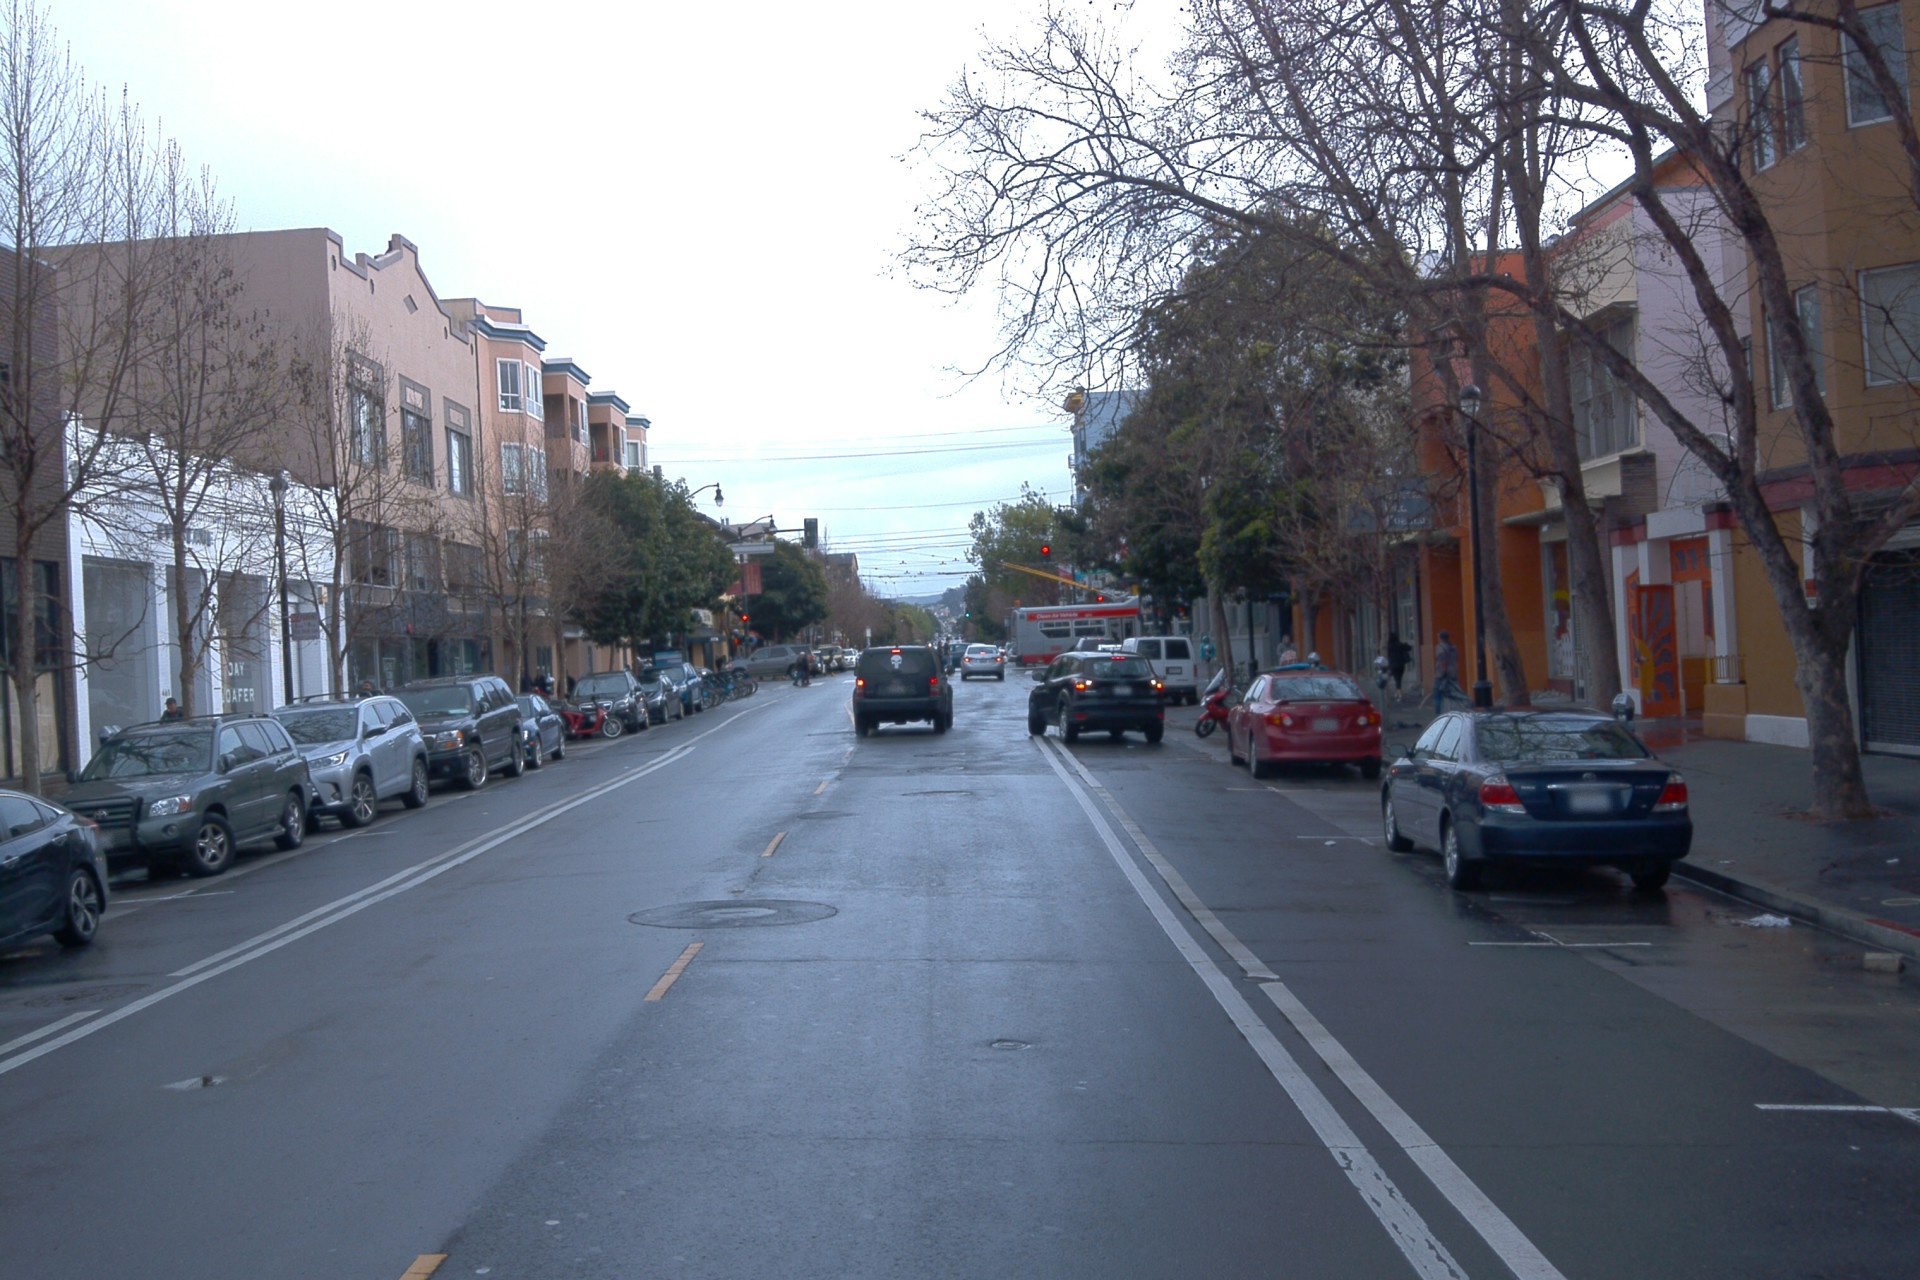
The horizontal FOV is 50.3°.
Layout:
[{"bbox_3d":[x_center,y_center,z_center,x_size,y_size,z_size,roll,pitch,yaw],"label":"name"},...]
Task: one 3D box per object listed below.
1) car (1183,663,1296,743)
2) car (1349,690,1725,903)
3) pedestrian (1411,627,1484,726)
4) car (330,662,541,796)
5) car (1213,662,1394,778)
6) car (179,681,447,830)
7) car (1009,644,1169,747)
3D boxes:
[{"bbox_3d":[5.179,1.166,37.967,2.020,1.430,0.938,1,0,5],"label":"car"},{"bbox_3d":[4.938,1.275,18.288,2.022,1.490,4.838,1,0,1],"label":"car"},{"bbox_3d":[8.735,0.643,36.676,0.909,1.740,0.928,0,0,-16],"label":"pedestrian"},{"bbox_3d":[-8.845,1.441,35.008,2.232,2.010,5.244,1,0,0],"label":"car"},{"bbox_3d":[4.873,1.095,29.570,1.872,1.470,4.354,1,0,0],"label":"car"},{"bbox_3d":[-8.897,1.533,28.630,2.203,1.760,4.984,1,0,-1],"label":"car"},{"bbox_3d":[2.339,0.984,38.250,2.042,1.780,4.267,0,0,-10],"label":"car"}]
